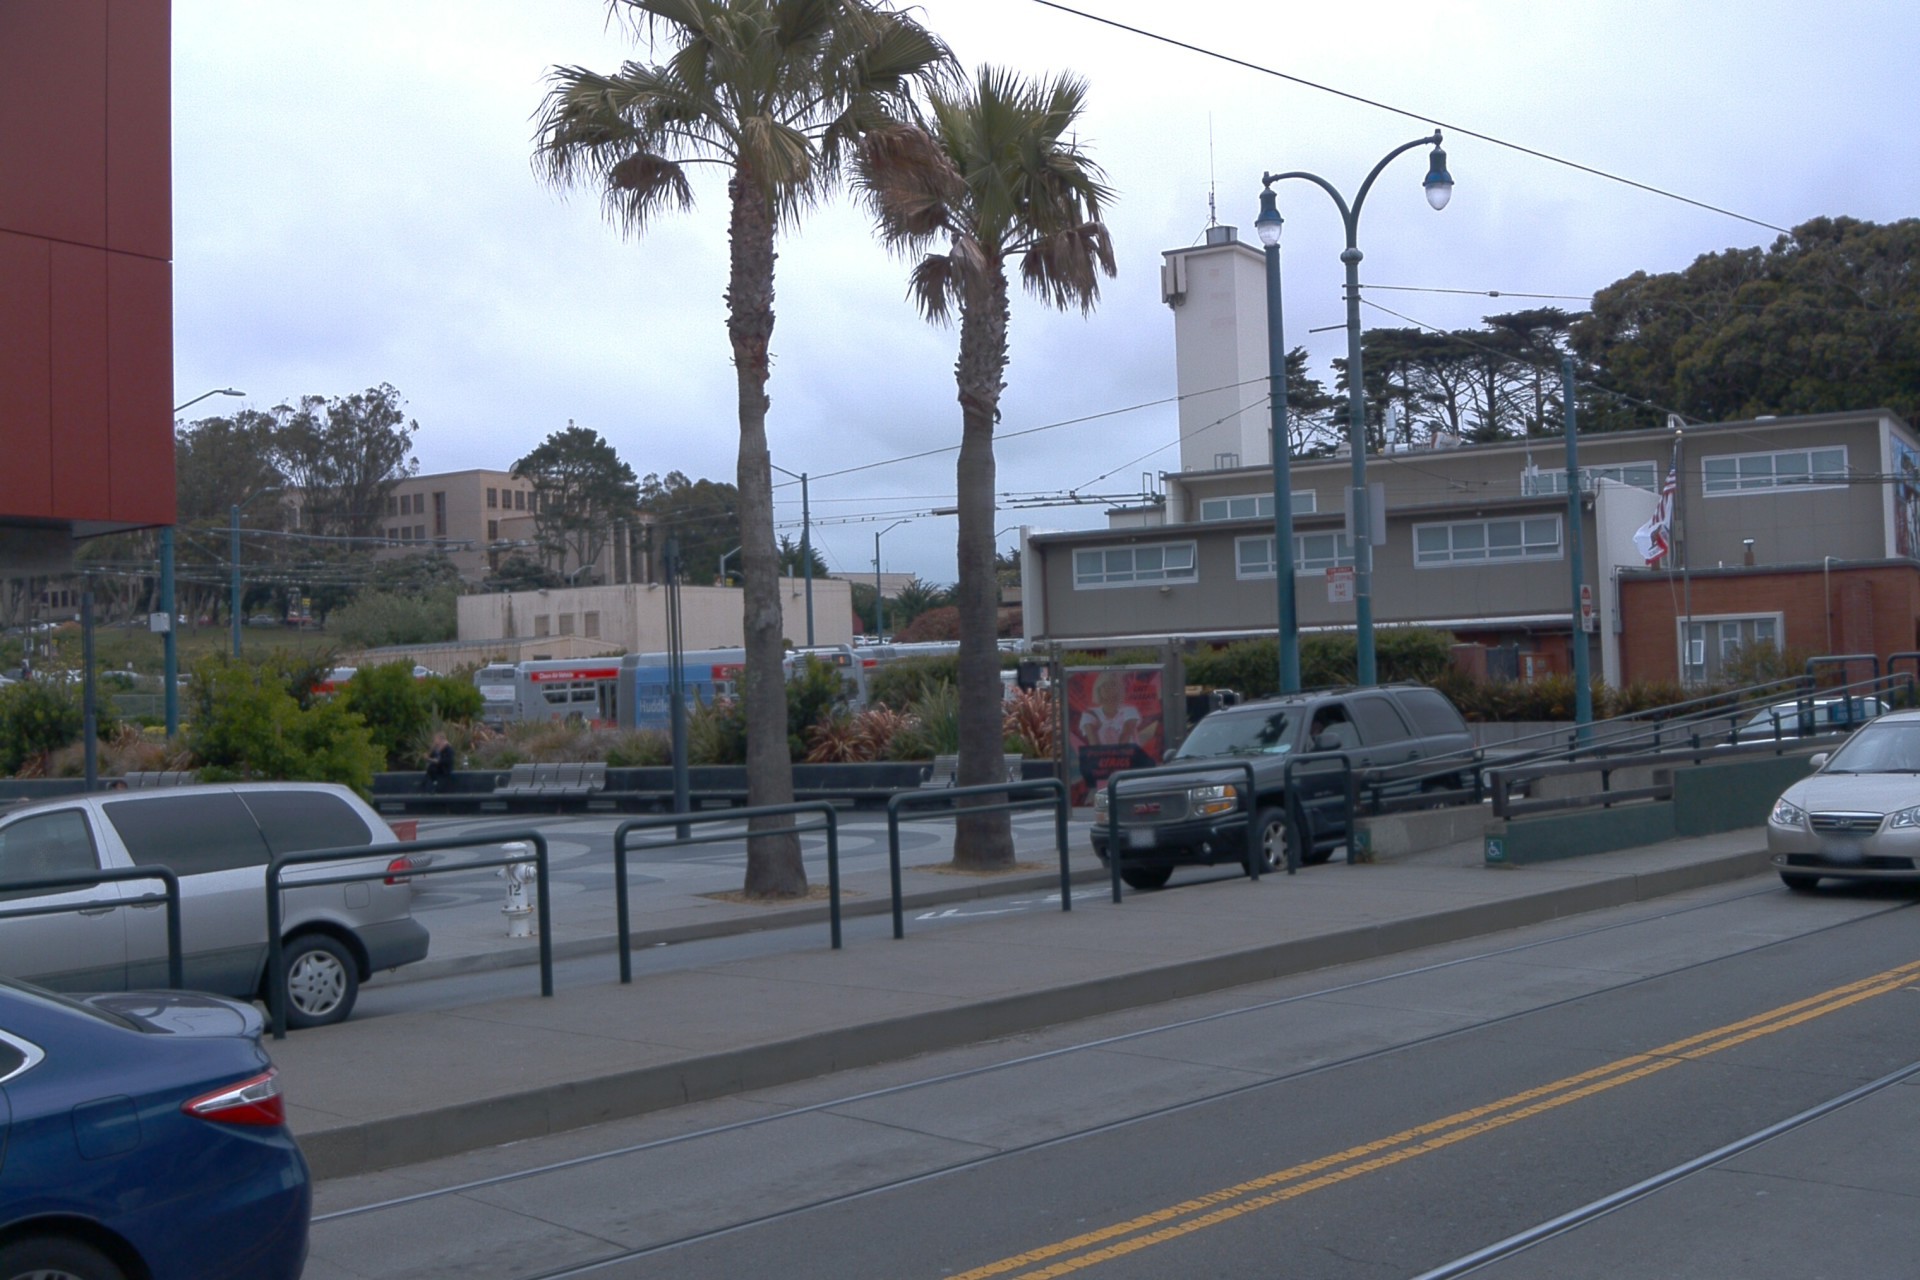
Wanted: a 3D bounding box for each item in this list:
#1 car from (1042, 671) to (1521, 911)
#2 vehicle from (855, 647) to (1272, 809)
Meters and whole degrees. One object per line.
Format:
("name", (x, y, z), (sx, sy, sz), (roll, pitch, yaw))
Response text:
("car", (3.518, 1.444, 21.848), (2.400, 2.050, 5.198), (1, 1, 45))
("vehicle", (1.923, 1.538, 38.557), (7.210, 2.700, 2.890), (0, 1, 24))
